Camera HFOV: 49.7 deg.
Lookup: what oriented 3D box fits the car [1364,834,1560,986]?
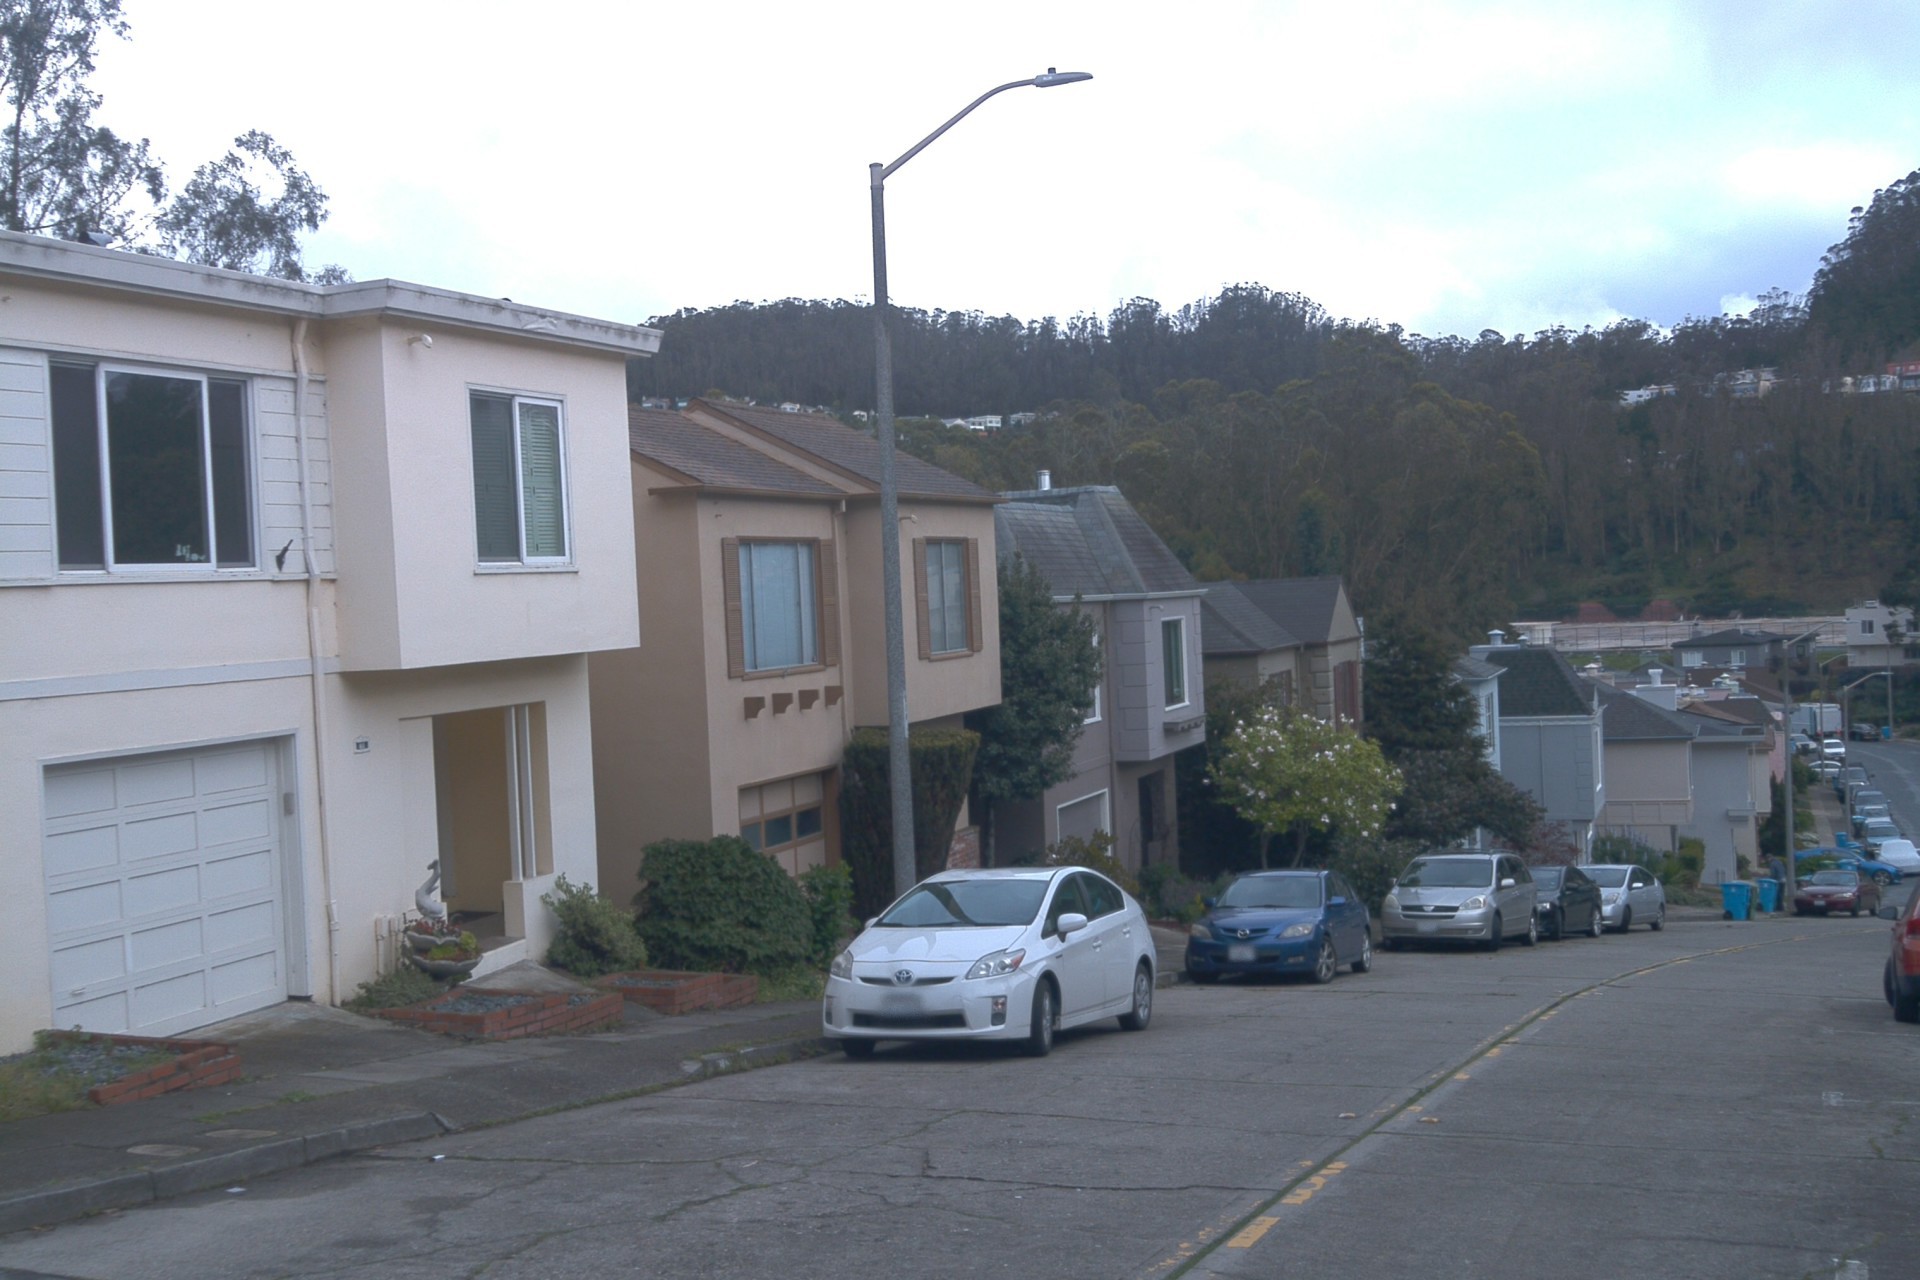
[{"bbox_3d":[8.984,4.682,36.716,2.349,1.990,5.075,0,0,26],"label":"car"}]

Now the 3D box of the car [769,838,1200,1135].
[{"bbox_3d":[0.391,2.765,17.594,2.149,1.700,4.600,0,0,22],"label":"car"}]

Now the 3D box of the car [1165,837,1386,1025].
[{"bbox_3d":[4.295,3.770,27.636,2.027,1.850,4.432,0,0,21],"label":"car"}]
